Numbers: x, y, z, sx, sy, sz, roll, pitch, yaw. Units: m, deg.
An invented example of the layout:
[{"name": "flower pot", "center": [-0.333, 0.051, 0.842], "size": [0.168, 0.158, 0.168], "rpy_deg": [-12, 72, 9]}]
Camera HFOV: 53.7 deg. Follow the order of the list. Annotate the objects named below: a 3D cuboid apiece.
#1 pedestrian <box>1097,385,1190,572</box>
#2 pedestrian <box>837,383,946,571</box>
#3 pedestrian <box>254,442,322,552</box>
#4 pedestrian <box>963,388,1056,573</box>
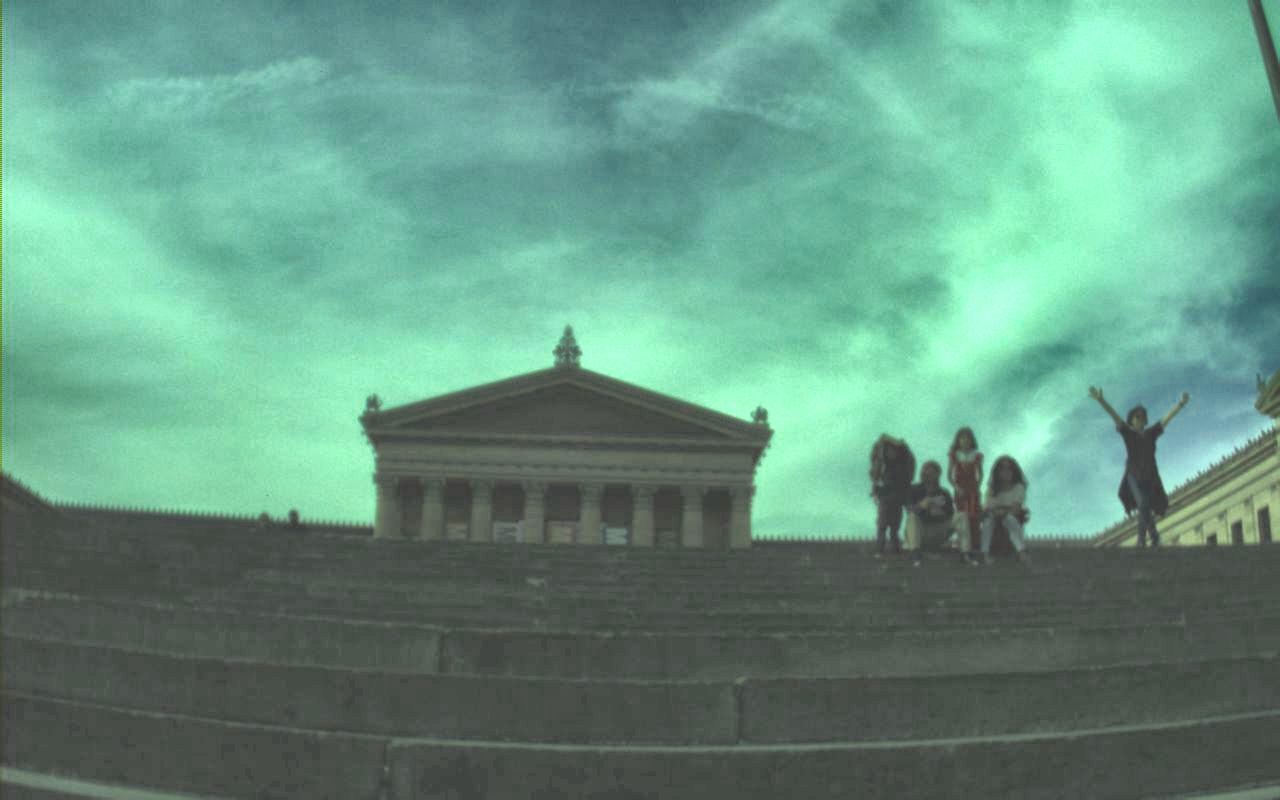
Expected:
[{"name": "pedestrian", "center": [5.287, 0.820, 12.362], "size": [0.695, 1.910, 0.684], "rpy_deg": [0, 0, -15]}, {"name": "pedestrian", "center": [2.310, 0.685, 11.435], "size": [0.725, 1.672, 0.705], "rpy_deg": [0, 0, -18]}, {"name": "pedestrian", "center": [-6.206, 1.708, 21.377], "size": [0.854, 1.827, 0.862], "rpy_deg": [1, 0, 24]}, {"name": "pedestrian", "center": [3.442, 0.743, 11.374], "size": [0.735, 1.674, 0.666], "rpy_deg": [0, 0, 5]}]
